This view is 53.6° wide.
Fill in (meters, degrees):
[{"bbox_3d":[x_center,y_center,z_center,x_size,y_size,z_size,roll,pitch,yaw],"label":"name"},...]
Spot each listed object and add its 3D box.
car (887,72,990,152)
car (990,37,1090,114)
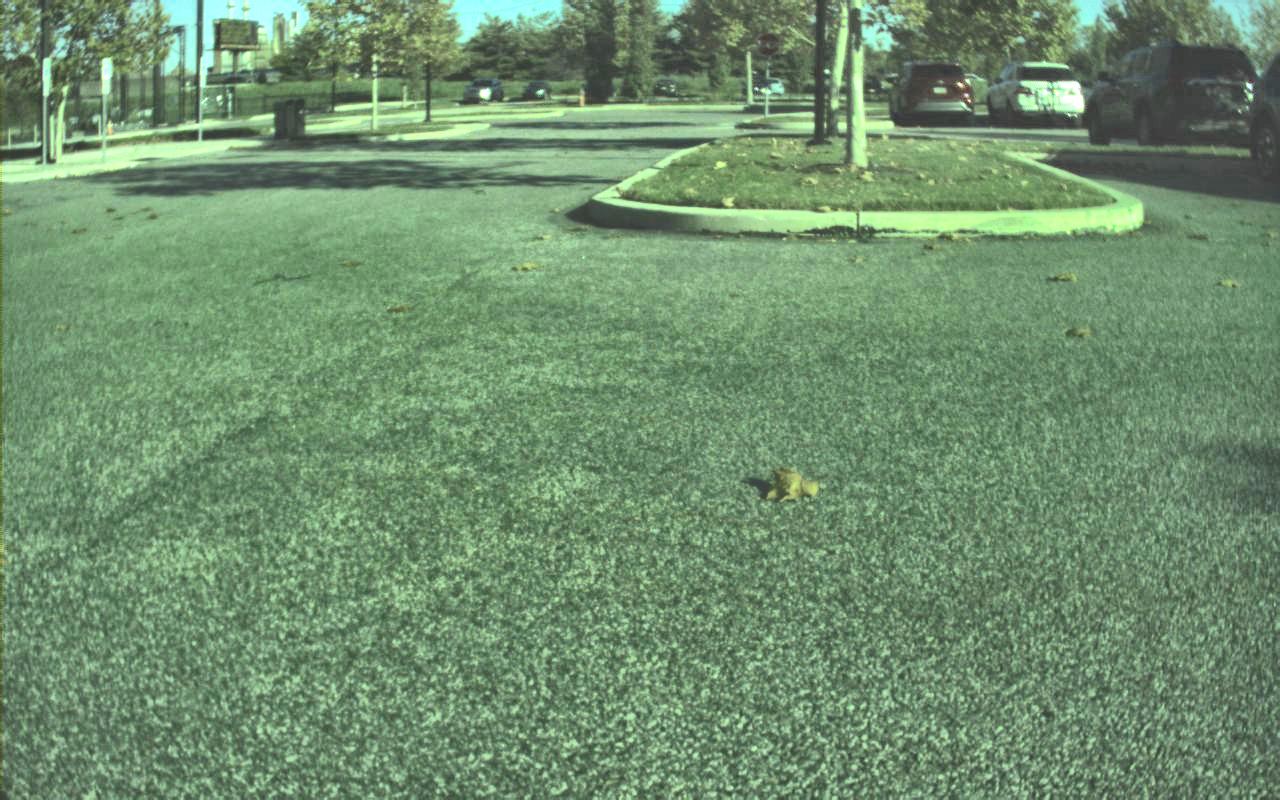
[{"bbox_3d":[7.734,-7.582,31.833,2.016,1.755,4.614,0,17,4],"label":"car"},{"bbox_3d":[10.530,-8.643,31.418,2.044,1.782,4.767,2,17,9],"label":"car"}]
